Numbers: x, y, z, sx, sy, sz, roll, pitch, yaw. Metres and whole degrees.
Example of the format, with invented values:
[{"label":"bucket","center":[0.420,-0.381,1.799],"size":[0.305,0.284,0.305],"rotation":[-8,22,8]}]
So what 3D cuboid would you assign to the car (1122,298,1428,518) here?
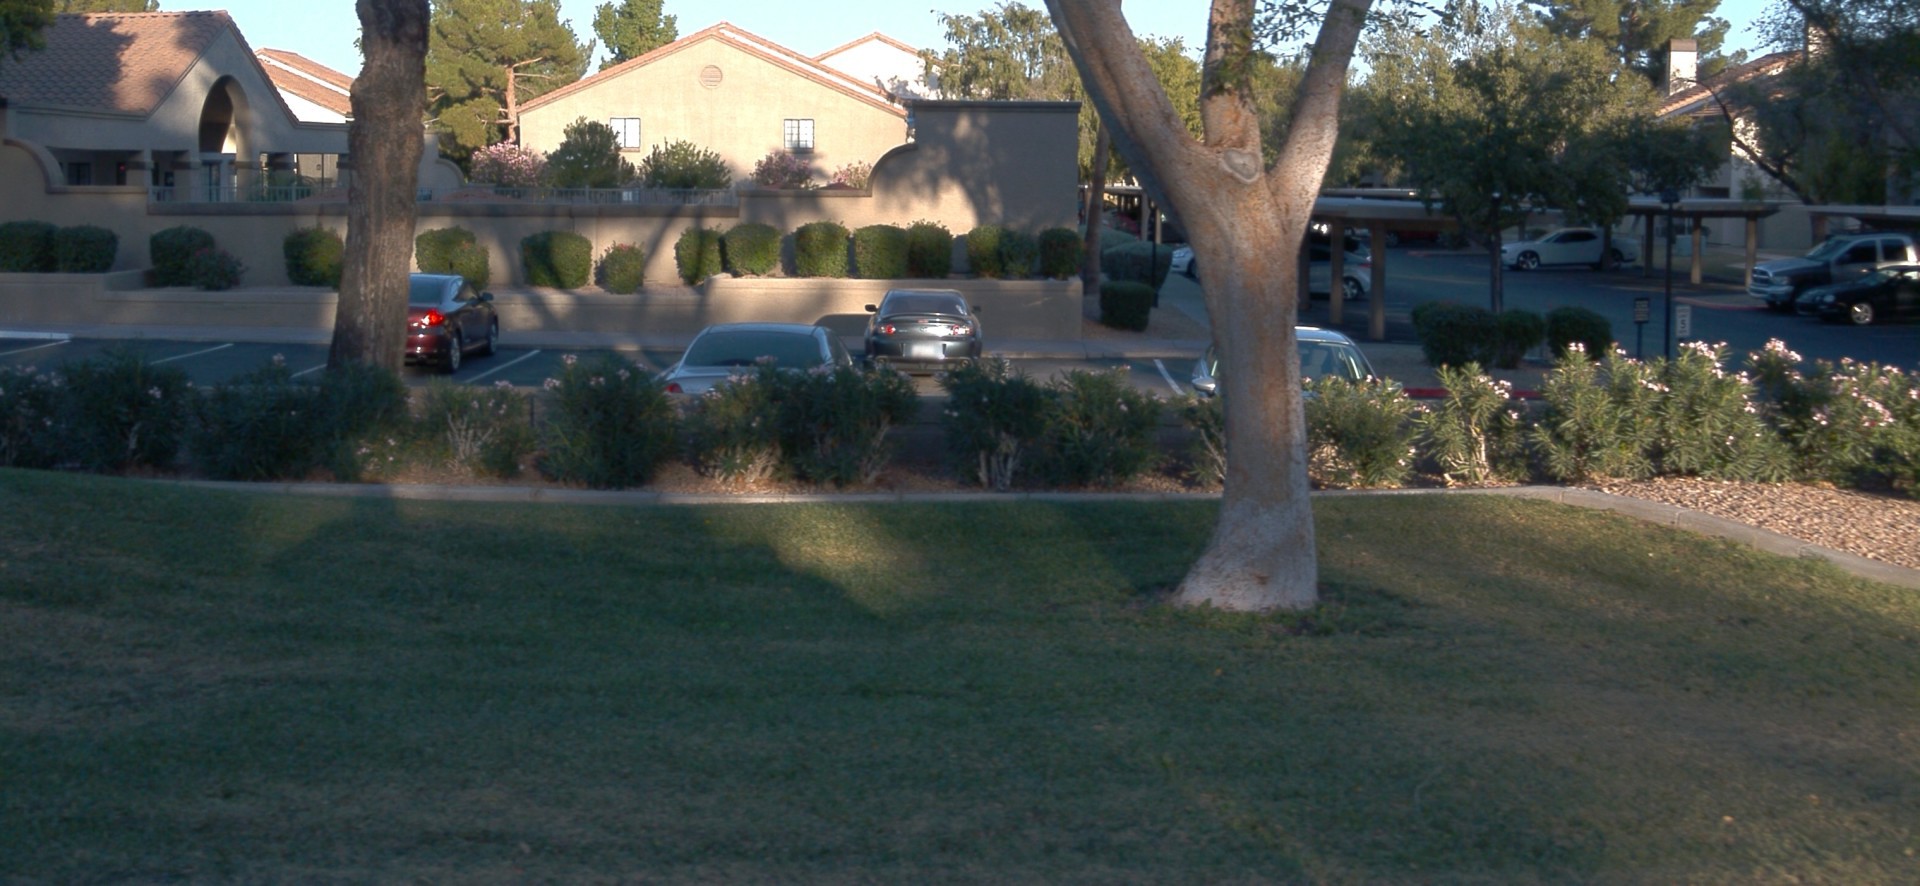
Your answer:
[{"label":"car","center":[2.878,-0.479,20.120],"size":[2.230,1.703,5.103],"rotation":[0,5,0]}]

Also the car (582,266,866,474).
[{"label":"car","center":[-2.086,-0.813,19.721],"size":[2.067,1.663,4.741],"rotation":[0,5,1]}]

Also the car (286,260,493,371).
[{"label":"car","center":[-8.643,-2.018,31.802],"size":[2.001,1.514,4.609],"rotation":[0,5,-1]}]

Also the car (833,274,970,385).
[{"label":"car","center":[-0.827,-1.792,31.756],"size":[1.934,1.494,4.322],"rotation":[0,5,0]}]
